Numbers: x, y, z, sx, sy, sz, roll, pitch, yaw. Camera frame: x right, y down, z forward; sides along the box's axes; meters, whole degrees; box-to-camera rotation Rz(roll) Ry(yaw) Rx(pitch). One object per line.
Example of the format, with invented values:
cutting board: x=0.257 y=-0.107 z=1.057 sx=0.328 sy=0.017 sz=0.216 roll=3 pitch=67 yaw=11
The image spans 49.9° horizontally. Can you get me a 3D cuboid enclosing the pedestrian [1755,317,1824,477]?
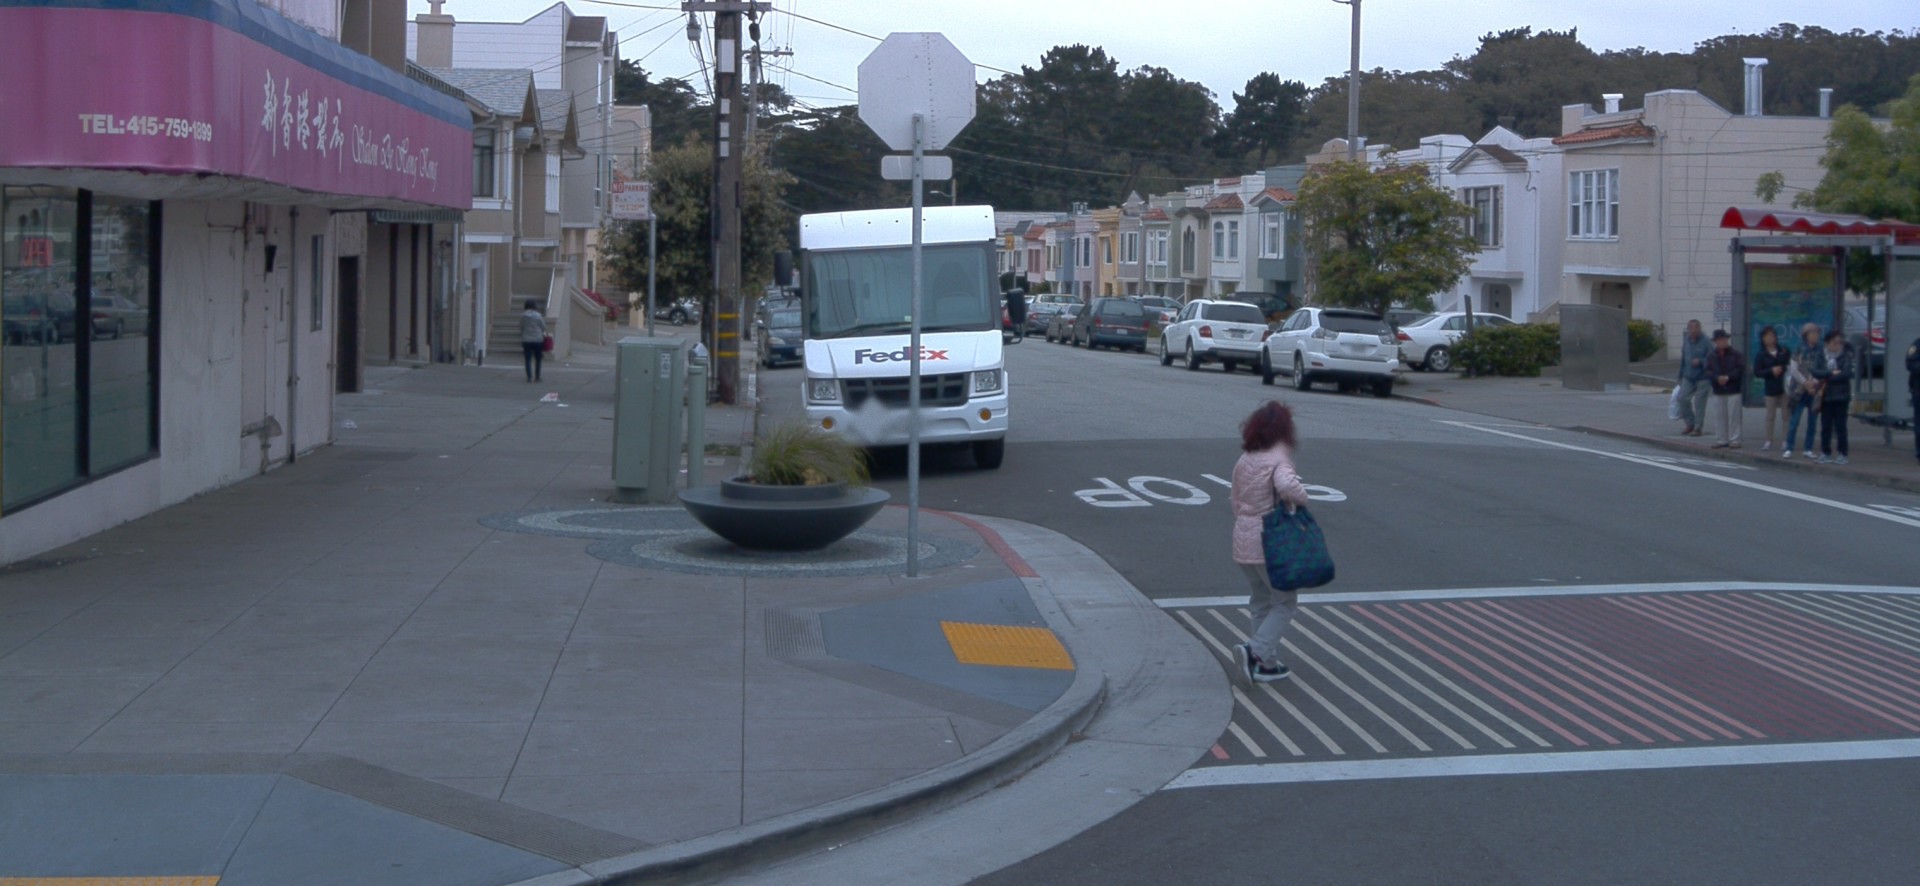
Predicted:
pedestrian: x=9.912 y=-0.564 z=24.662 sx=0.758 sy=1.827 sz=0.686 roll=0 pitch=2 yaw=21

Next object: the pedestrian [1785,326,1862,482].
pedestrian: x=9.970 y=-0.470 z=23.825 sx=0.683 sy=1.727 sz=0.712 roll=0 pitch=2 yaw=11

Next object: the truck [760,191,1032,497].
truck: x=-0.712 y=-1.408 z=24.179 sx=2.689 sy=3.011 sz=7.386 roll=0 pitch=6 yaw=-1

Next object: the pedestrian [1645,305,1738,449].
pedestrian: x=10.065 y=-0.933 z=28.361 sx=0.924 sy=1.876 sz=0.871 roll=2 pitch=3 yaw=45

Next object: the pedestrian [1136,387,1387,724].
pedestrian: x=1.509 y=0.513 z=10.312 sx=0.907 sy=1.476 sz=0.857 roll=2 pitch=3 yaw=45

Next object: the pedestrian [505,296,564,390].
pedestrian: x=-7.796 y=-1.845 z=37.822 sx=0.939 sy=1.678 sz=0.686 roll=0 pitch=2 yaw=0

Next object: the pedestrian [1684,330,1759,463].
pedestrian: x=9.707 y=-0.605 z=26.292 sx=0.682 sy=1.607 sz=0.713 roll=1 pitch=3 yaw=43

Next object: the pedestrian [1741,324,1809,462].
pedestrian: x=10.165 y=-0.637 z=25.709 sx=0.682 sy=1.632 sz=0.713 roll=1 pitch=2 yaw=30
